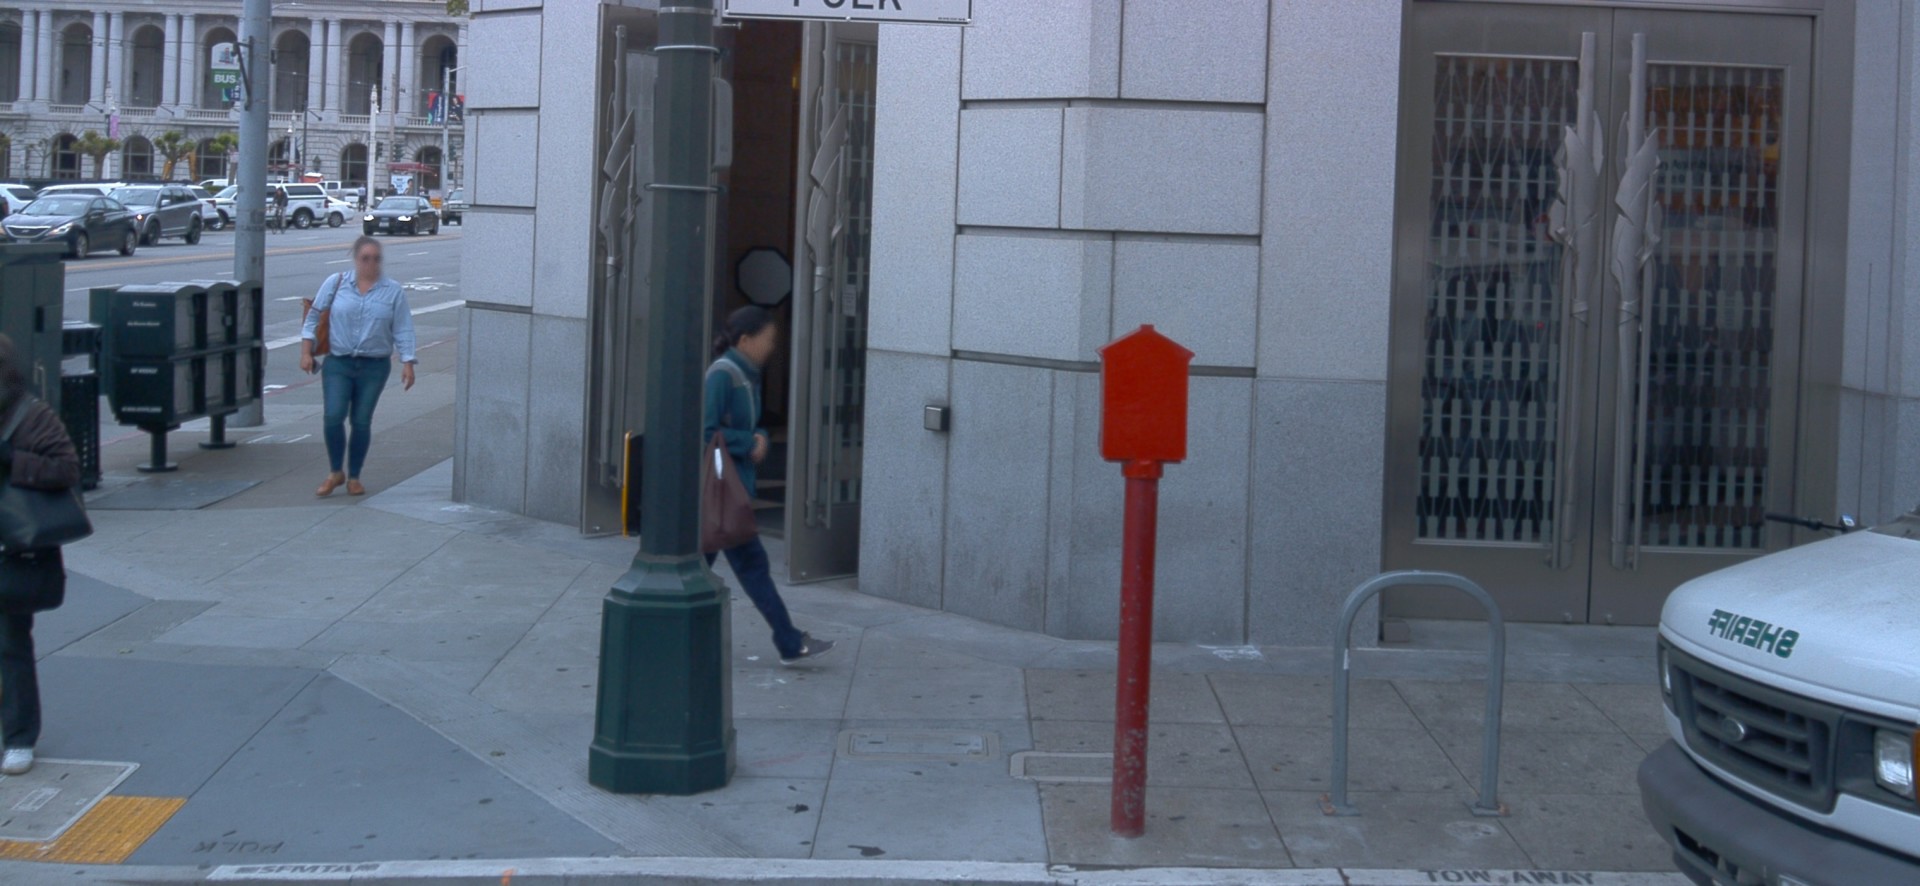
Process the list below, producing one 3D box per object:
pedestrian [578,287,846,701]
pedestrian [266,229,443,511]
[{"bbox_3d":[-1.062,0.176,9.020,0.999,1.687,0.869,0,2,6],"label":"pedestrian"},{"bbox_3d":[-4.013,-0.527,13.732,1.054,1.801,0.961,0,2,-12],"label":"pedestrian"}]
